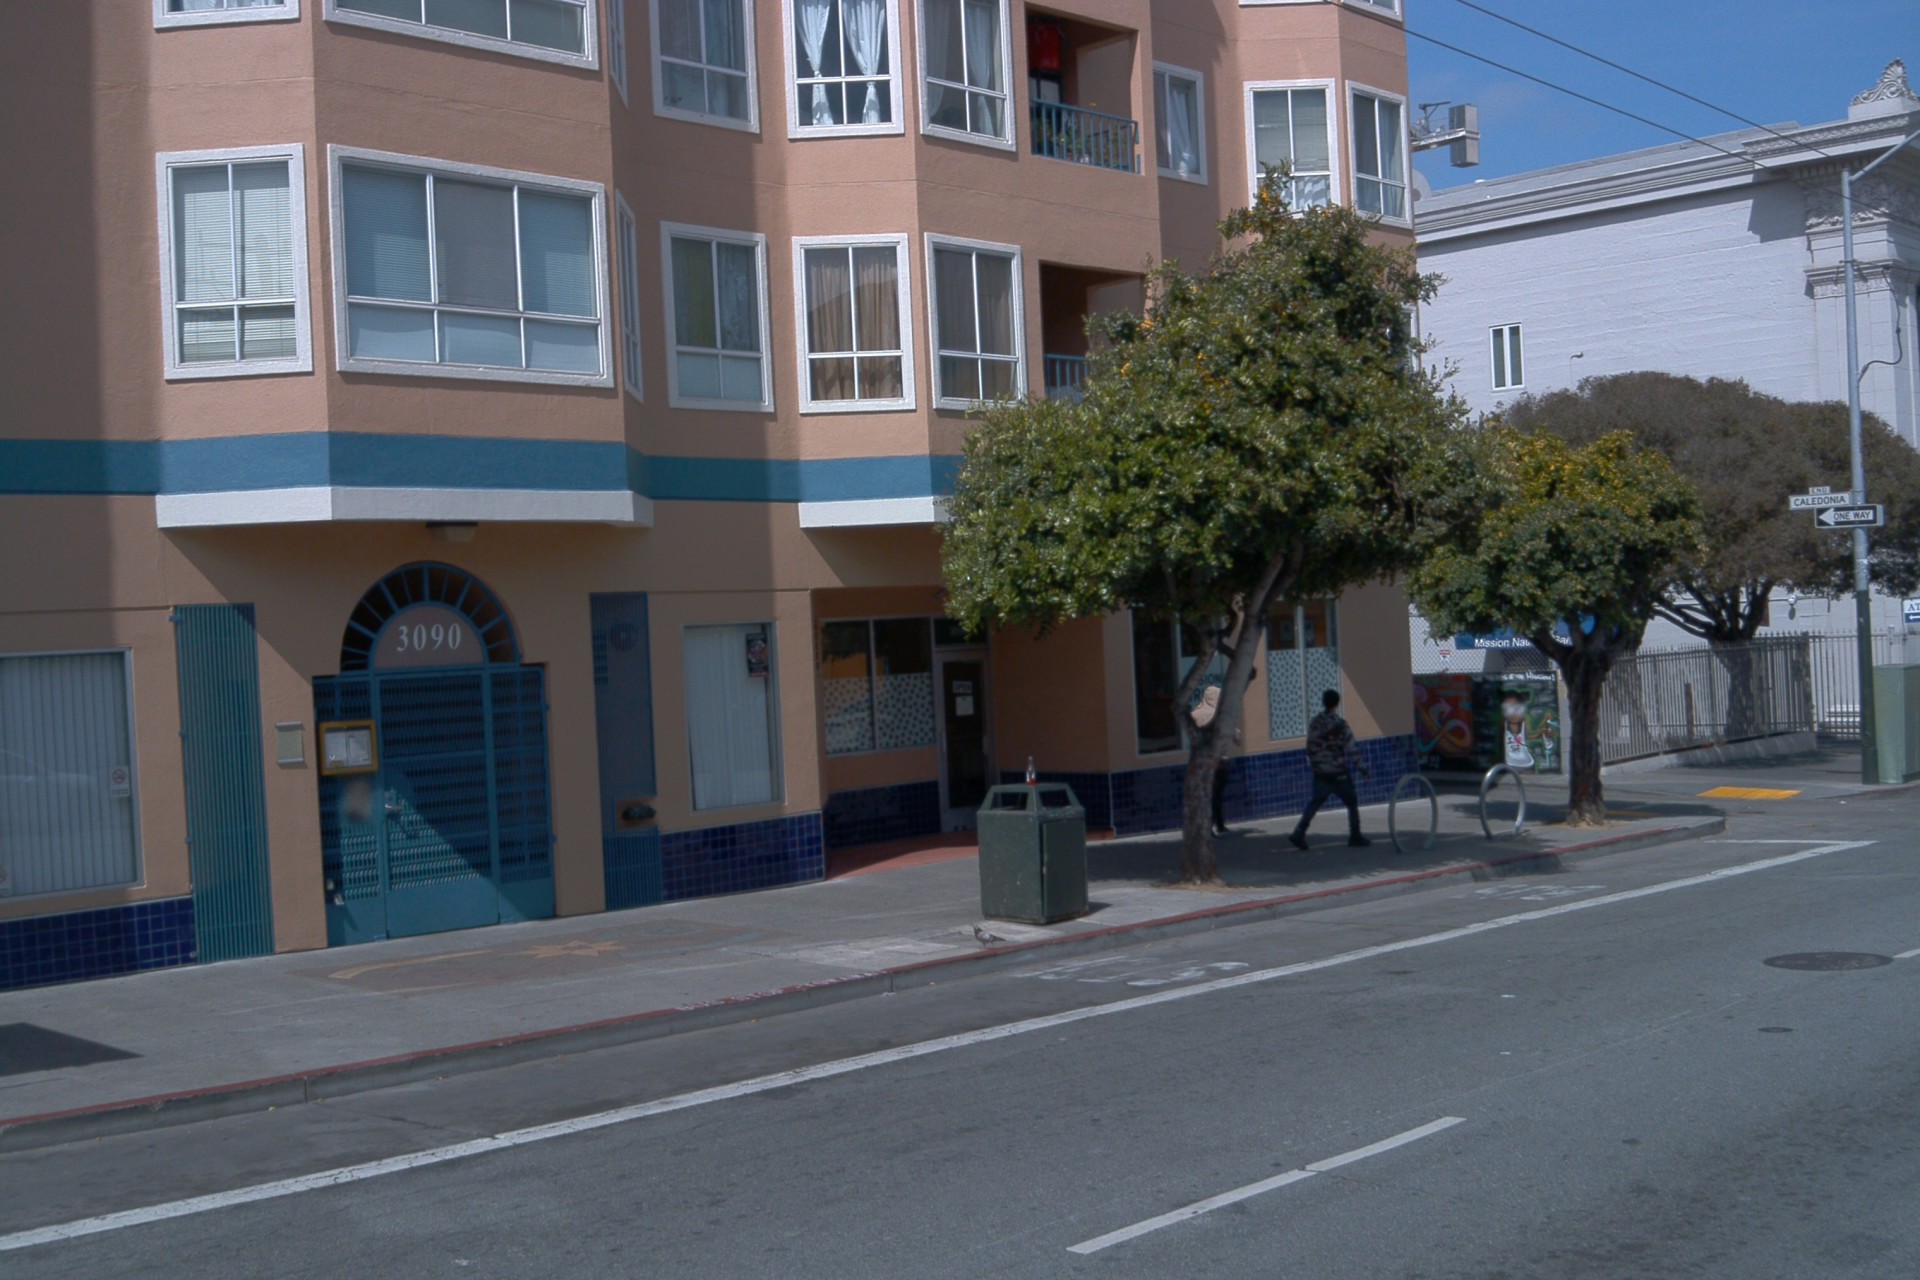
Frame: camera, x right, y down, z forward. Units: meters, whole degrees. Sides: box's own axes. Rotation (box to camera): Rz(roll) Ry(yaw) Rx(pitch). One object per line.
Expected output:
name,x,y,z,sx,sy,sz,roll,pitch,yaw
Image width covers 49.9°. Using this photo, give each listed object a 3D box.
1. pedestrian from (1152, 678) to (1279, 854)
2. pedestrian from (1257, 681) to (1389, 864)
pedestrian,2.883,1.387,23.238,0.960,1.870,1.103,1,1,42
pedestrian,3.889,1.388,22.092,1.064,1.850,0.923,-1,1,-41
